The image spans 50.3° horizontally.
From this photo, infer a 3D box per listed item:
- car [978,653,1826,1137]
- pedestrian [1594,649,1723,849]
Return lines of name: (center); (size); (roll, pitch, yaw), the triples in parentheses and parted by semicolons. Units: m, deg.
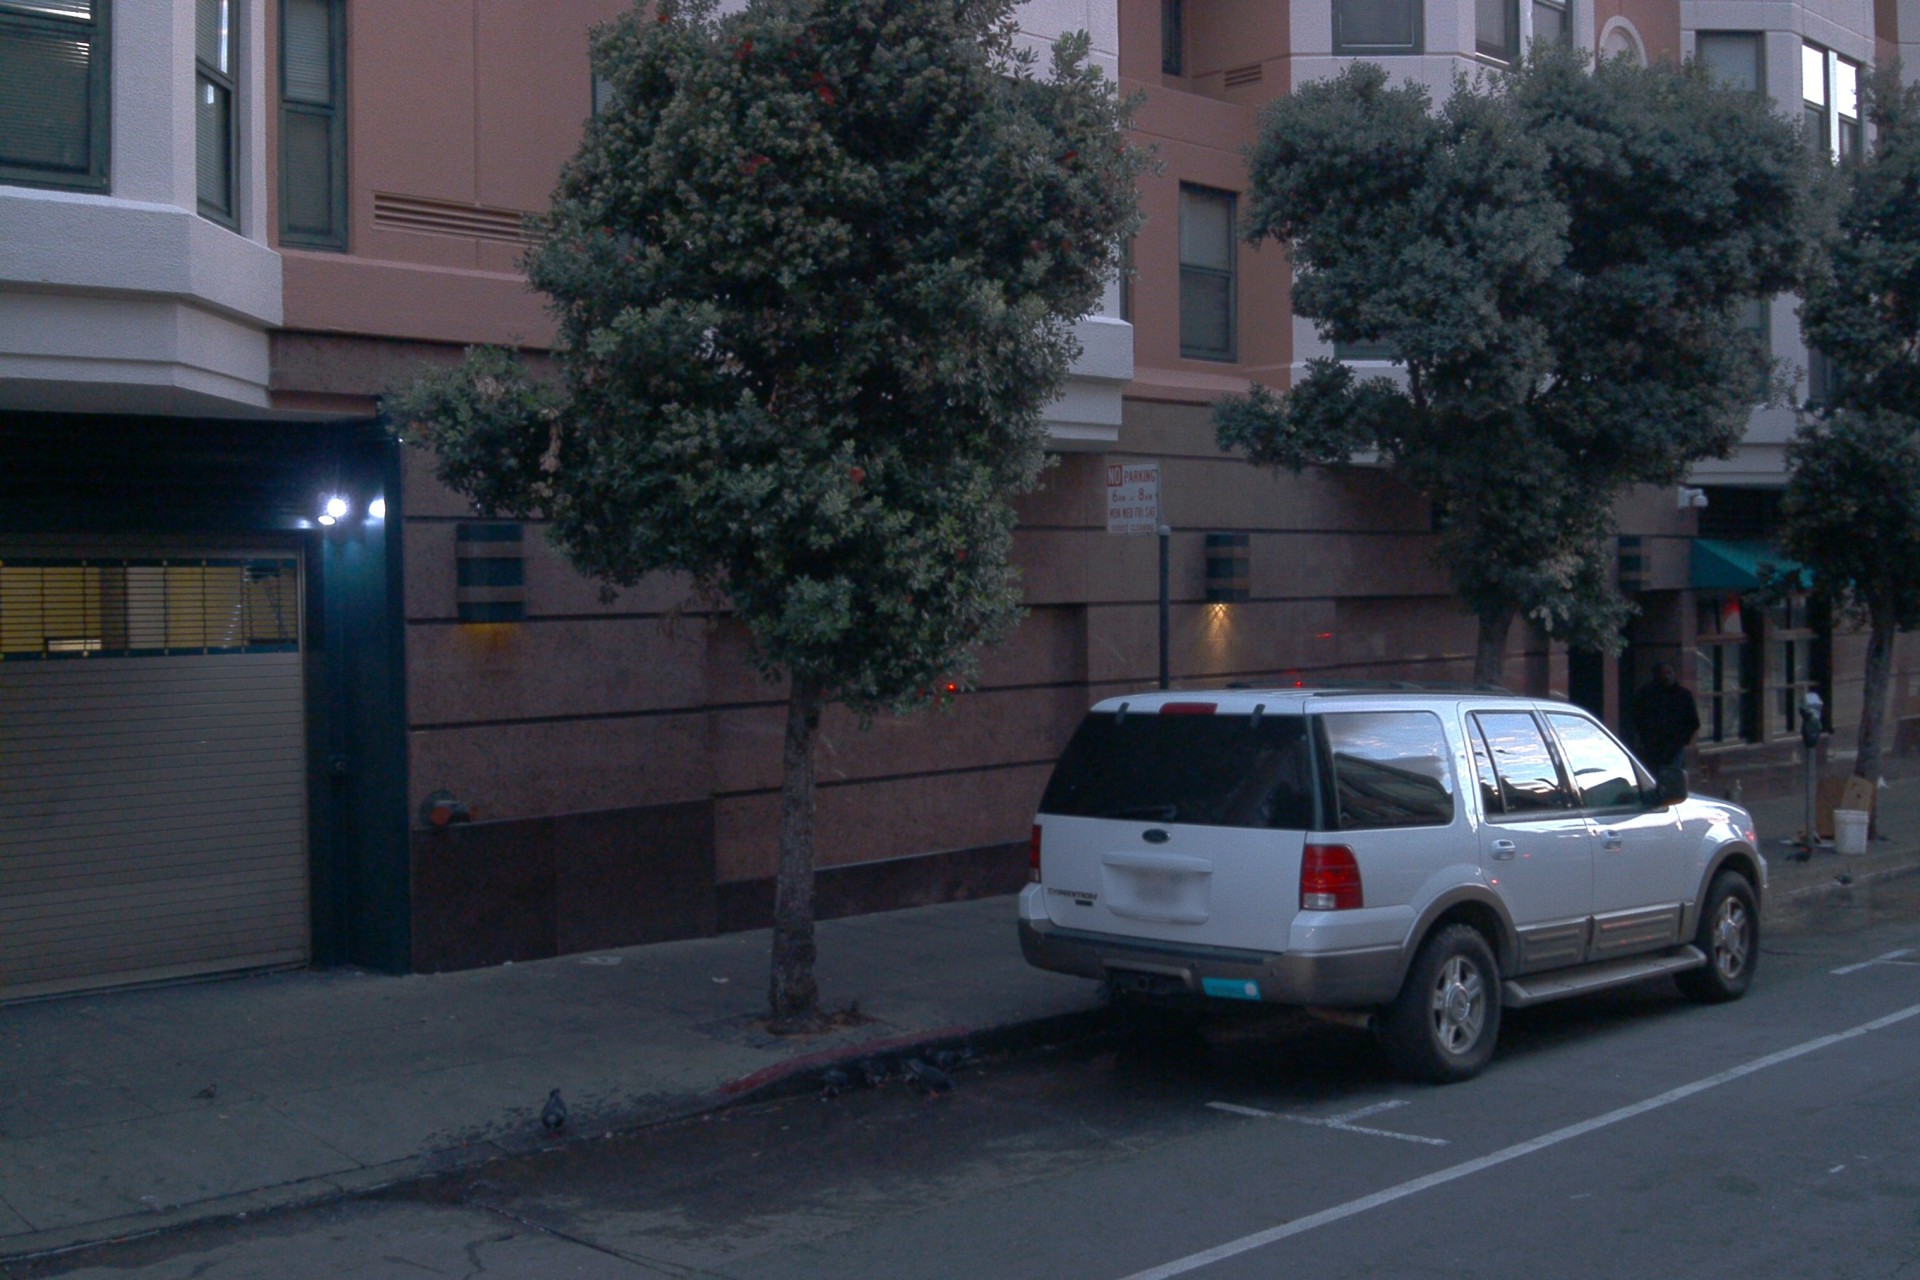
car: (2.666, 1.113, 11.382); (2.194, 1.990, 5.086); (1, 1, 45)
pedestrian: (6.786, 1.027, 19.867); (0.828, 1.860, 1.059); (1, 1, 42)
